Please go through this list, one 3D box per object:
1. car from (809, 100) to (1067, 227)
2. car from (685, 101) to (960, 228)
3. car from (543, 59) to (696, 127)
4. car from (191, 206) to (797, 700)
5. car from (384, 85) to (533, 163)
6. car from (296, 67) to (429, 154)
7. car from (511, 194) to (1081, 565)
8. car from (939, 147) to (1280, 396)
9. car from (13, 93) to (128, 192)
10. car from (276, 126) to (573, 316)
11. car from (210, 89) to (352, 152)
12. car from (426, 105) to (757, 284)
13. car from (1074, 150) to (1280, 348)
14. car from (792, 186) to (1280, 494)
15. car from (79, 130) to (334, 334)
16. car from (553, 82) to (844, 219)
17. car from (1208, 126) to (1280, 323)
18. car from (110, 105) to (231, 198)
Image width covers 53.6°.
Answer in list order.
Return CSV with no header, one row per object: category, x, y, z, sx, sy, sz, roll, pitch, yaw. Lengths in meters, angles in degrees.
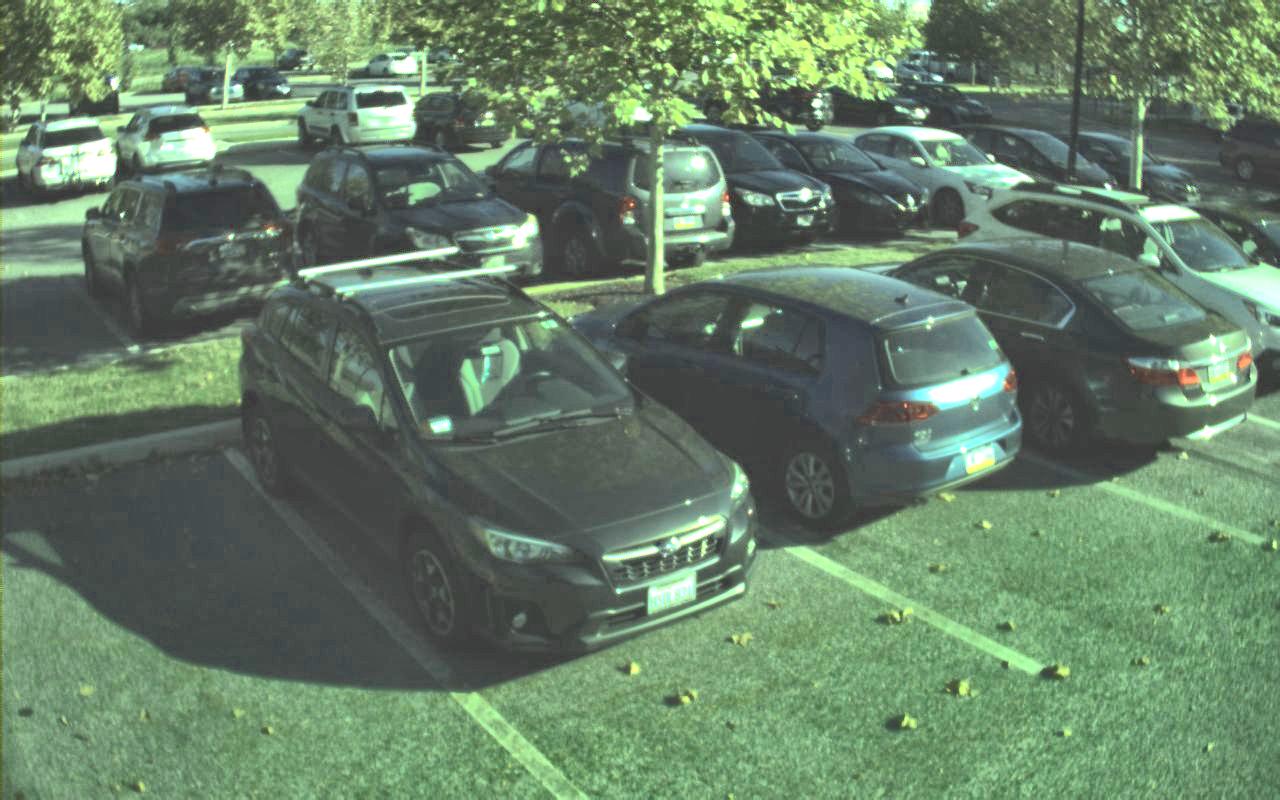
car,5.241,-4.333,21.870,2.024,1.724,4.679,-10,19,-29
car,2.899,-3.950,20.272,1.947,1.576,4.417,-13,20,-36
car,-0.659,-8.713,34.997,2.019,1.711,4.673,-12,20,-33
car,-1.246,-0.046,7.919,1.963,1.729,4.366,-13,20,-35
car,-4.760,-7.127,31.612,1.998,1.679,4.550,-12,20,-33
car,-7.062,-7.287,30.366,2.050,1.881,4.673,-10,19,-28
car,0.967,-0.433,9.364,1.898,1.613,4.234,-13,20,-34
car,5.458,-1.545,12.566,1.988,1.733,4.576,-11,19,-31
car,-13.203,-5.917,25.789,2.059,1.867,4.697,-12,20,-34
car,-2.912,-2.417,15.528,1.994,1.688,4.648,-12,20,-32
car,-12.226,-9.474,40.604,4.580,1.632,1.984,-11,19,-31
car,-0.801,-2.888,16.584,2.027,1.780,4.704,-13,21,-36
car,7.508,-1.952,13.810,1.939,1.564,4.403,-11,19,-31
car,3.397,-0.744,10.462,1.927,1.555,4.437,-11,19,-29
car,-5.479,-2.203,14.344,2.013,1.733,4.652,-12,20,-33
car,0.763,-3.851,18.650,1.975,1.628,4.497,-13,20,-35
car,10.194,-2.493,14.695,2.064,1.865,4.734,-13,20,-35
car,-11.195,-5.890,27.518,2.013,1.760,4.575,-12,20,-32
